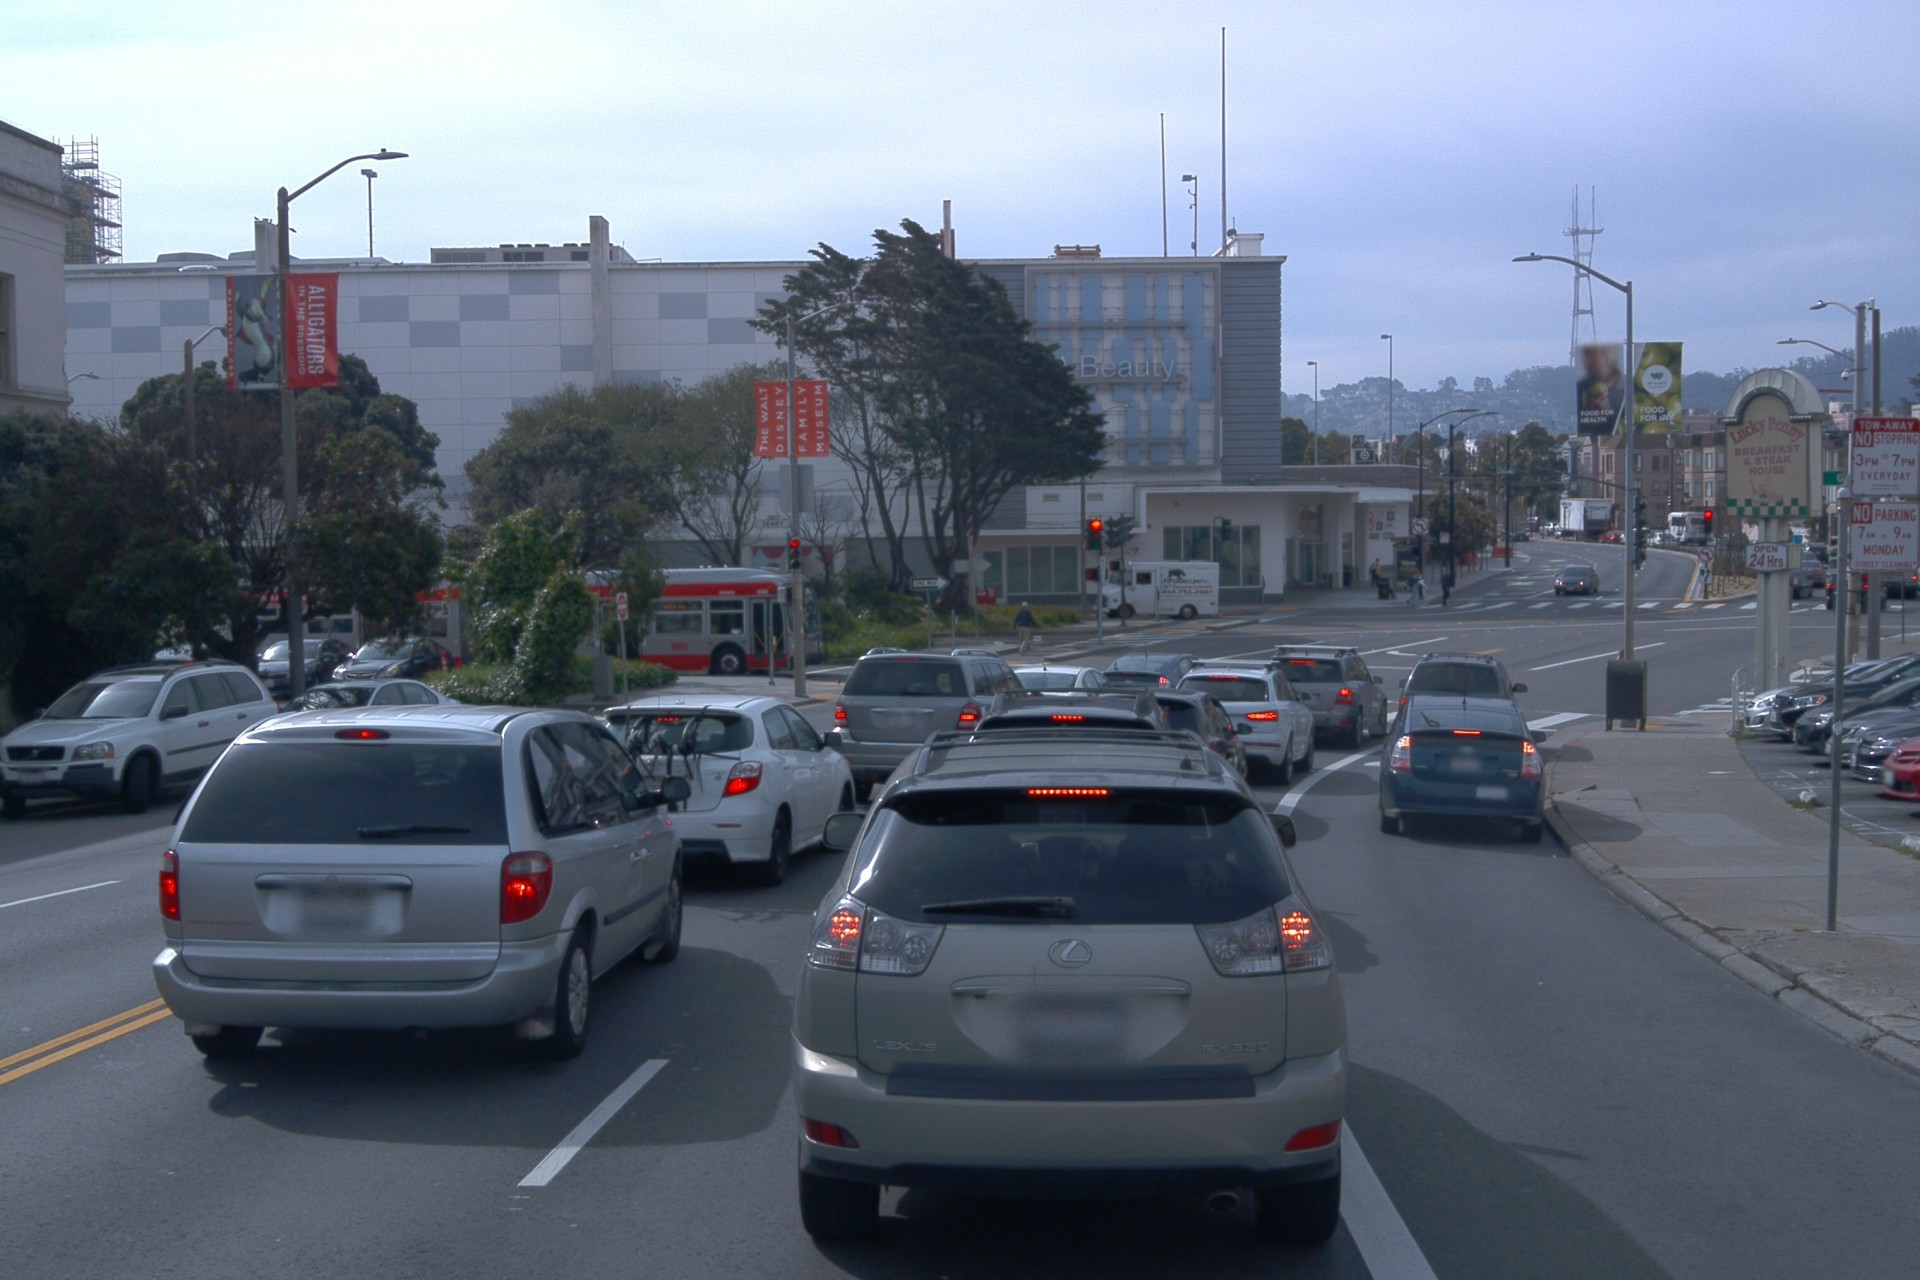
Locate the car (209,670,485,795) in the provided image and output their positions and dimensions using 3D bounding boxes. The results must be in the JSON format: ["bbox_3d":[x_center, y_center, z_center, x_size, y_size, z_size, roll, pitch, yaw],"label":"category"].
[{"bbox_3d":[-9.230,1.336,31.231,1.977,1.640,4.663,1,0,13],"label":"car"}]

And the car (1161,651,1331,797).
[{"bbox_3d":[4.163,1.117,29.234,1.795,1.880,4.044,1,0,17],"label":"car"}]

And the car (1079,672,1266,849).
[{"bbox_3d":[2.538,1.308,23.697,1.526,1.780,3.939,1,0,15],"label":"car"}]

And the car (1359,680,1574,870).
[{"bbox_3d":[5.627,1.412,23.175,2.113,1.790,4.645,1,0,12],"label":"car"}]

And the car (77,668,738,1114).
[{"bbox_3d":[-2.684,1.125,11.269,2.131,1.830,4.635,1,0,4],"label":"car"}]

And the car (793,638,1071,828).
[{"bbox_3d":[-0.210,1.038,25.536,2.236,2.100,4.827,1,0,15],"label":"car"}]

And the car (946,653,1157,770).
[{"bbox_3d":[1.564,1.074,32.729,2.220,1.670,4.643,1,0,18],"label":"car"}]

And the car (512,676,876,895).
[{"bbox_3d":[-2.125,1.138,17.680,1.982,1.530,4.306,1,0,9],"label":"car"}]

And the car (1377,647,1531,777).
[{"bbox_3d":[8.550,1.149,35.080,2.203,2.020,4.801,1,0,18],"label":"car"}]

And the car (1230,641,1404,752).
[{"bbox_3d":[6.641,0.955,37.539,2.226,1.850,5.307,1,0,20],"label":"car"}]

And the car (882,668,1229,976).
[{"bbox_3d":[0.889,1.201,15.459,2.119,1.870,4.391,1,0,9],"label":"car"}]

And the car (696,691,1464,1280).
[{"bbox_3d":[0.408,1.168,8.134,2.197,1.780,4.467,1,0,2],"label":"car"}]
